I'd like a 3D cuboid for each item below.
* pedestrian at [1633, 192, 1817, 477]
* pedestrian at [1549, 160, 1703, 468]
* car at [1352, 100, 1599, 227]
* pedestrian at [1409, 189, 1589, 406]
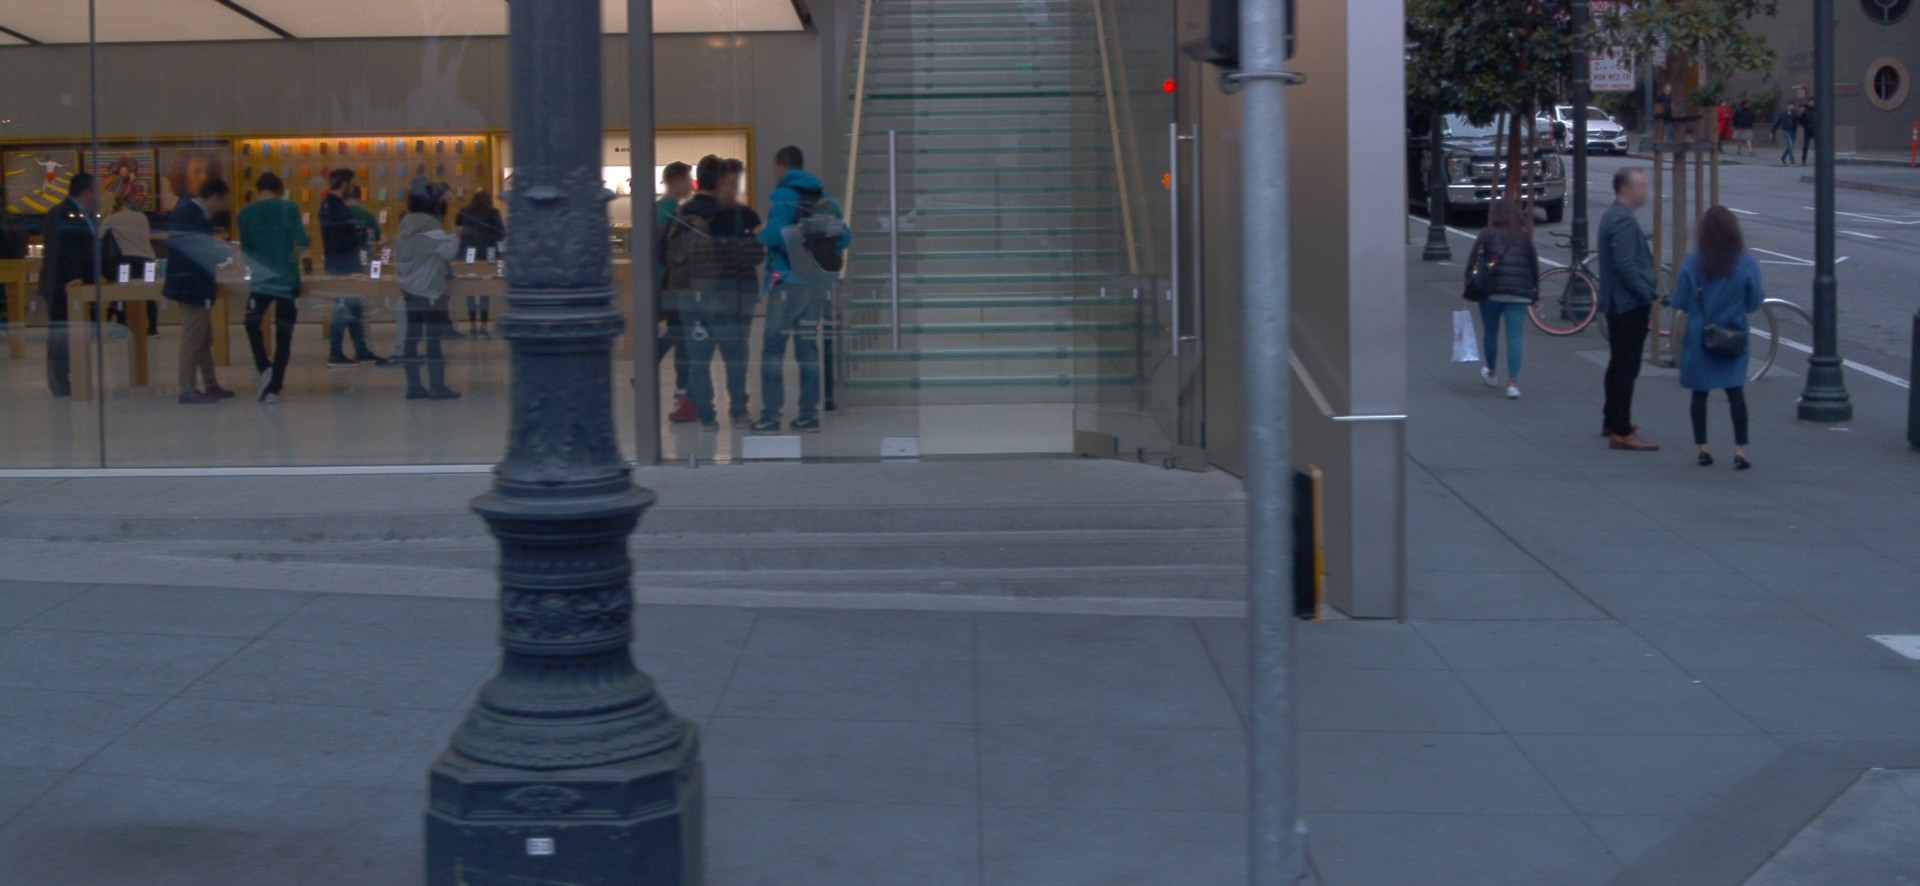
[{"bbox_3d":[4.851,-0.718,13.109,0.948,1.746,0.807,0,2,8],"label":"pedestrian"},{"bbox_3d":[4.432,-0.886,13.695,0.934,1.956,0.990,1,2,19],"label":"pedestrian"},{"bbox_3d":[9.079,-4.967,37.095,2.913,2.048,6.867,0,6,1],"label":"car"},{"bbox_3d":[4.193,-1.164,16.118,1.171,1.636,1.106,0,3,3],"label":"pedestrian"}]
